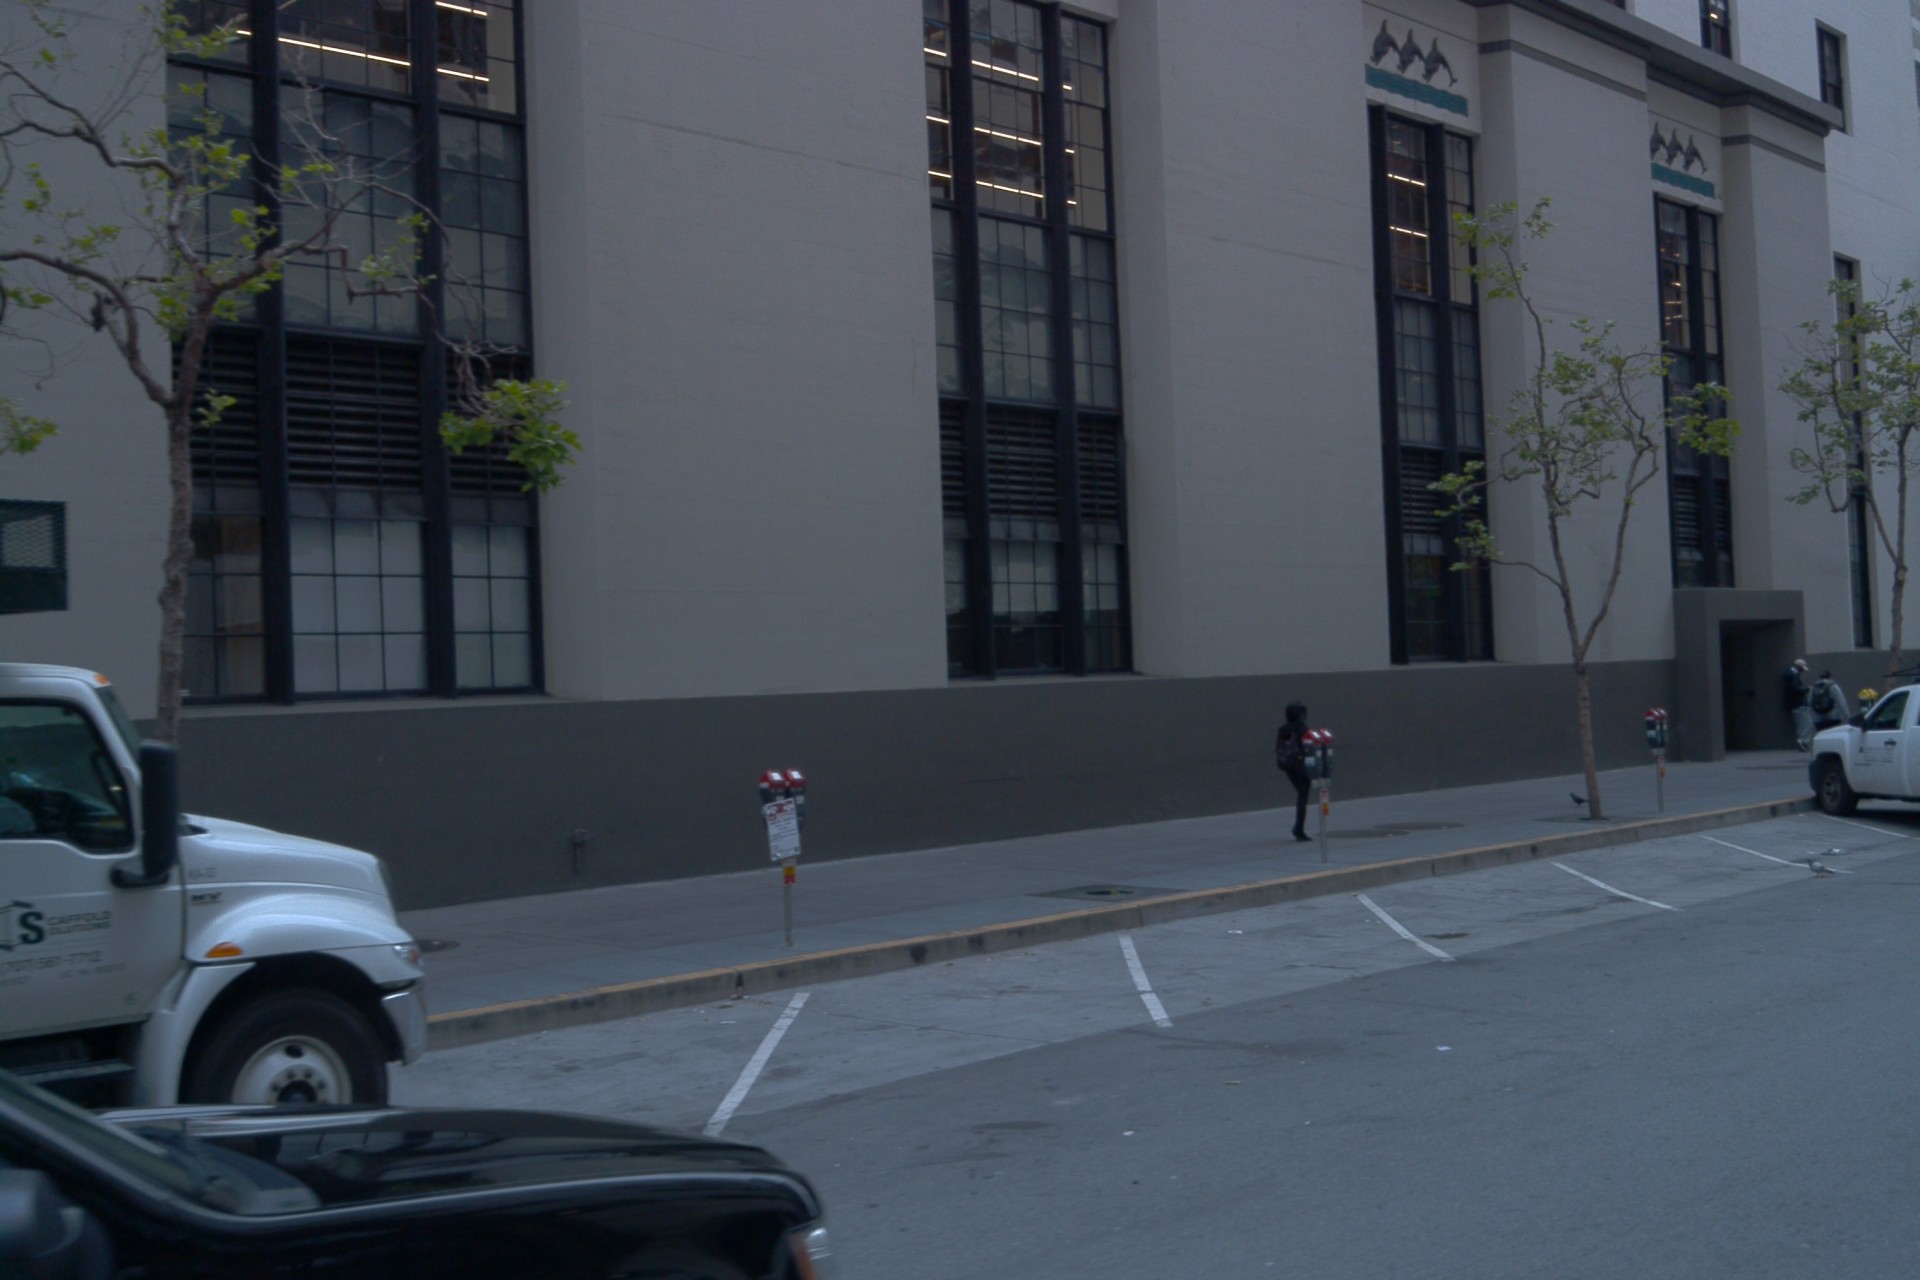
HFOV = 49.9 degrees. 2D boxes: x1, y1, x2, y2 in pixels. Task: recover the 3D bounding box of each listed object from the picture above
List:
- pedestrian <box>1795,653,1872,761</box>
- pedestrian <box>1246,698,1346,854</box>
[{"bbox_3d":[14.763,1.112,34.877,0.891,1.774,1.001,1,1,44],"label":"pedestrian"},{"bbox_3d":[3.810,1.516,23.380,0.882,1.680,0.736,-1,1,-43],"label":"pedestrian"}]
